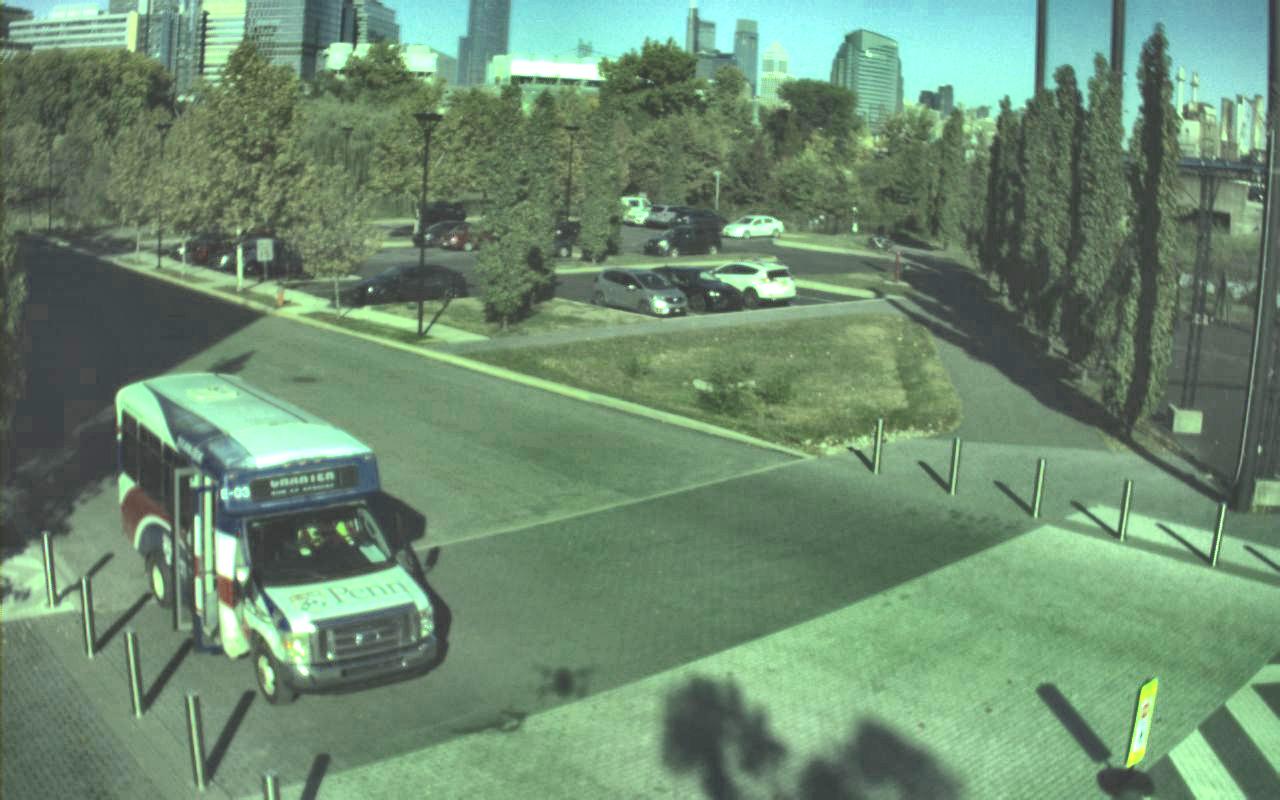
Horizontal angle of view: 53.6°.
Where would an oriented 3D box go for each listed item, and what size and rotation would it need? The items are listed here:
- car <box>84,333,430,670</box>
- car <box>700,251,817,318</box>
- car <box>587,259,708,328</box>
[{"bbox_3d":[-5.461,1.024,16.069,2.486,2.364,6.215,-14,21,-37],"label":"car"},{"bbox_3d":[4.525,-4.504,48.480,1.978,1.672,4.512,-13,21,-36],"label":"car"},{"bbox_3d":[0.230,-3.896,45.502,1.966,1.579,4.427,-14,21,-38],"label":"car"}]
